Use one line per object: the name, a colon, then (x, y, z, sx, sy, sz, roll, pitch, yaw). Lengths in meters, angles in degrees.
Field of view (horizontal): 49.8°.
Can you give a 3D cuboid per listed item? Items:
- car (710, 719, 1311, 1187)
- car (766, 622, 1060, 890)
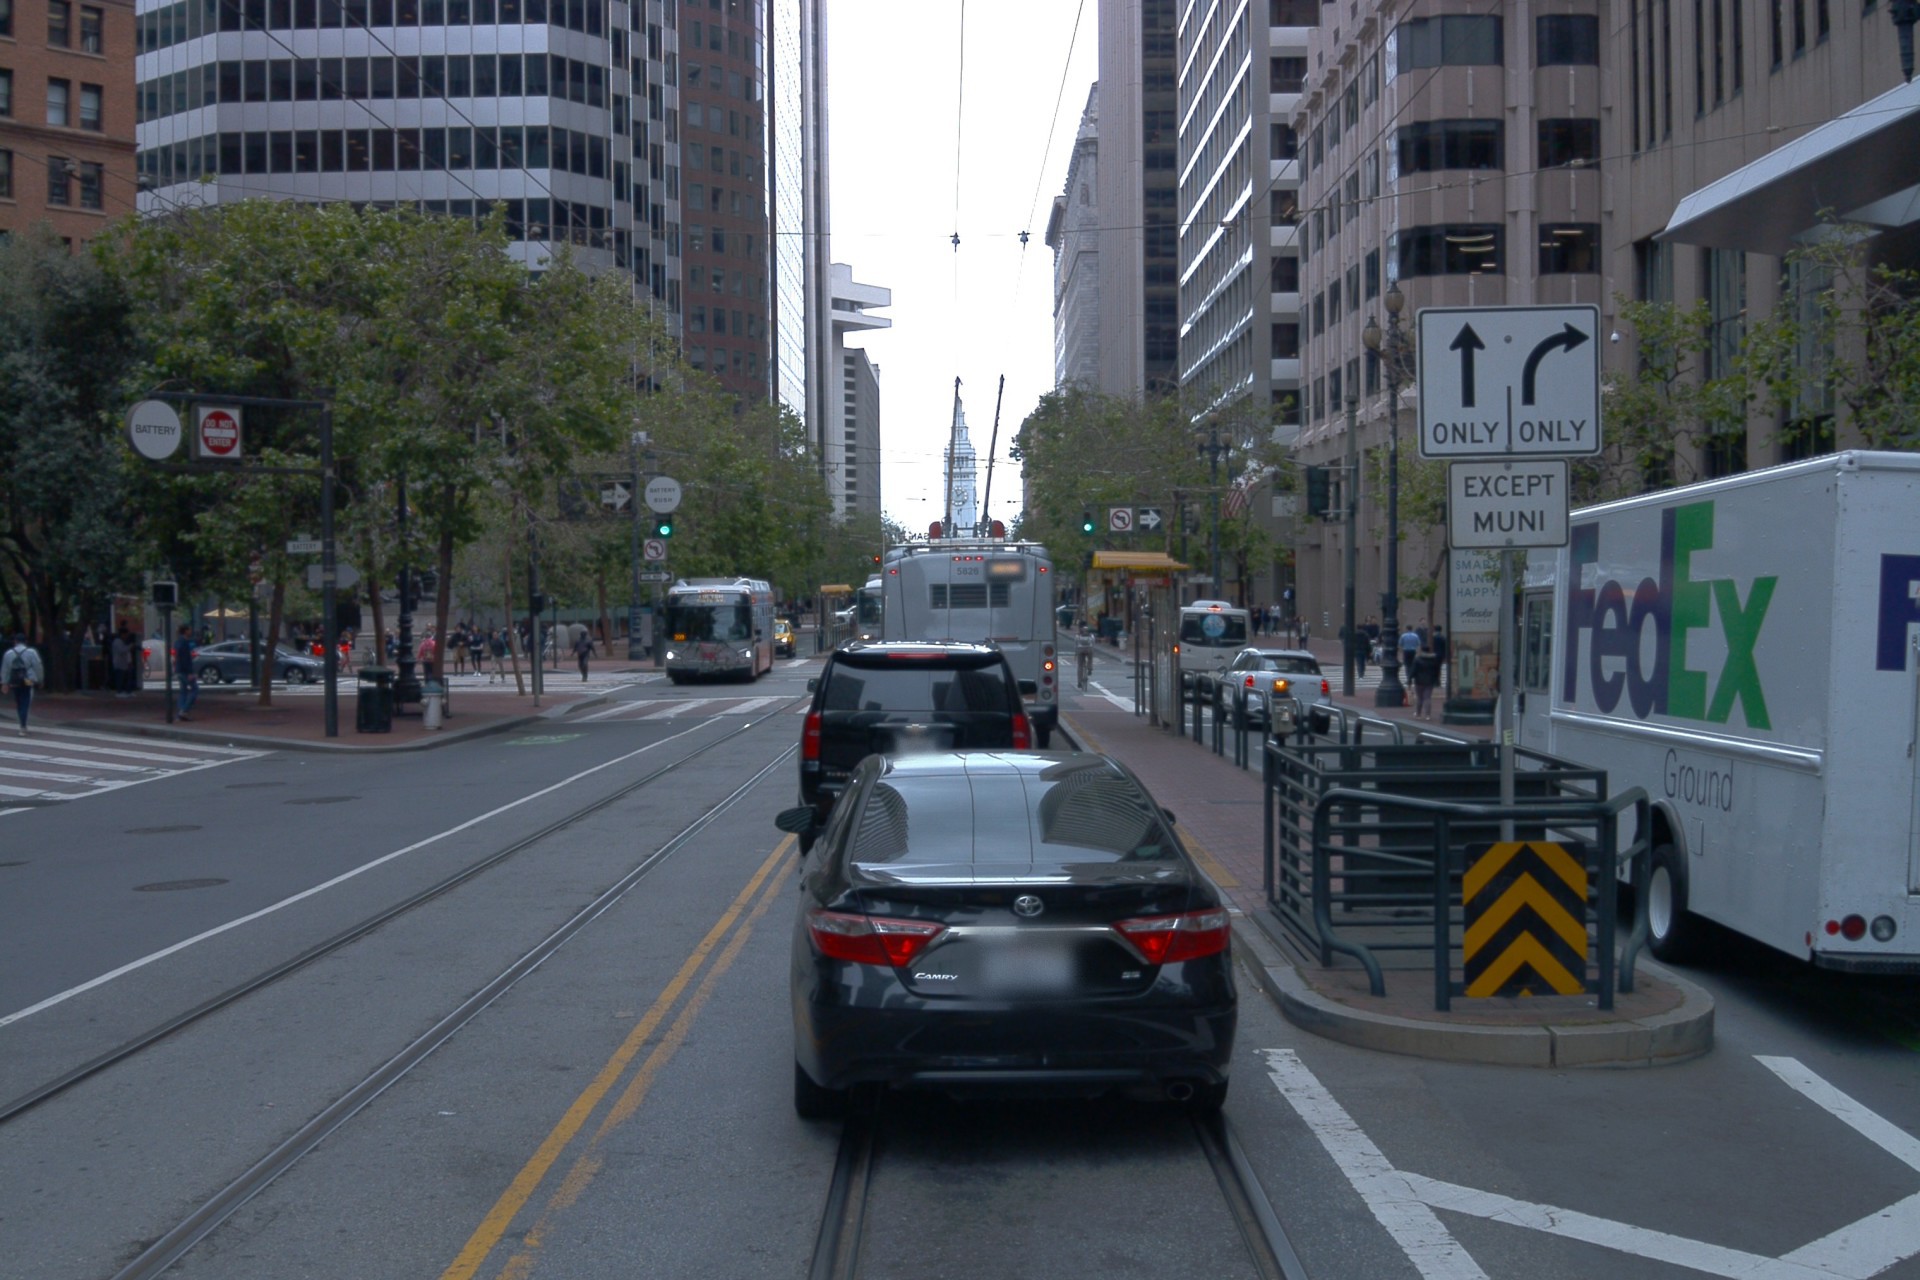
car: (0.124, 1.231, 9.892, 2.188, 1.460, 4.687, 0, 1, -2)
car: (-0.360, 0.895, 19.090, 2.308, 2.100, 5.442, 0, 1, 0)
